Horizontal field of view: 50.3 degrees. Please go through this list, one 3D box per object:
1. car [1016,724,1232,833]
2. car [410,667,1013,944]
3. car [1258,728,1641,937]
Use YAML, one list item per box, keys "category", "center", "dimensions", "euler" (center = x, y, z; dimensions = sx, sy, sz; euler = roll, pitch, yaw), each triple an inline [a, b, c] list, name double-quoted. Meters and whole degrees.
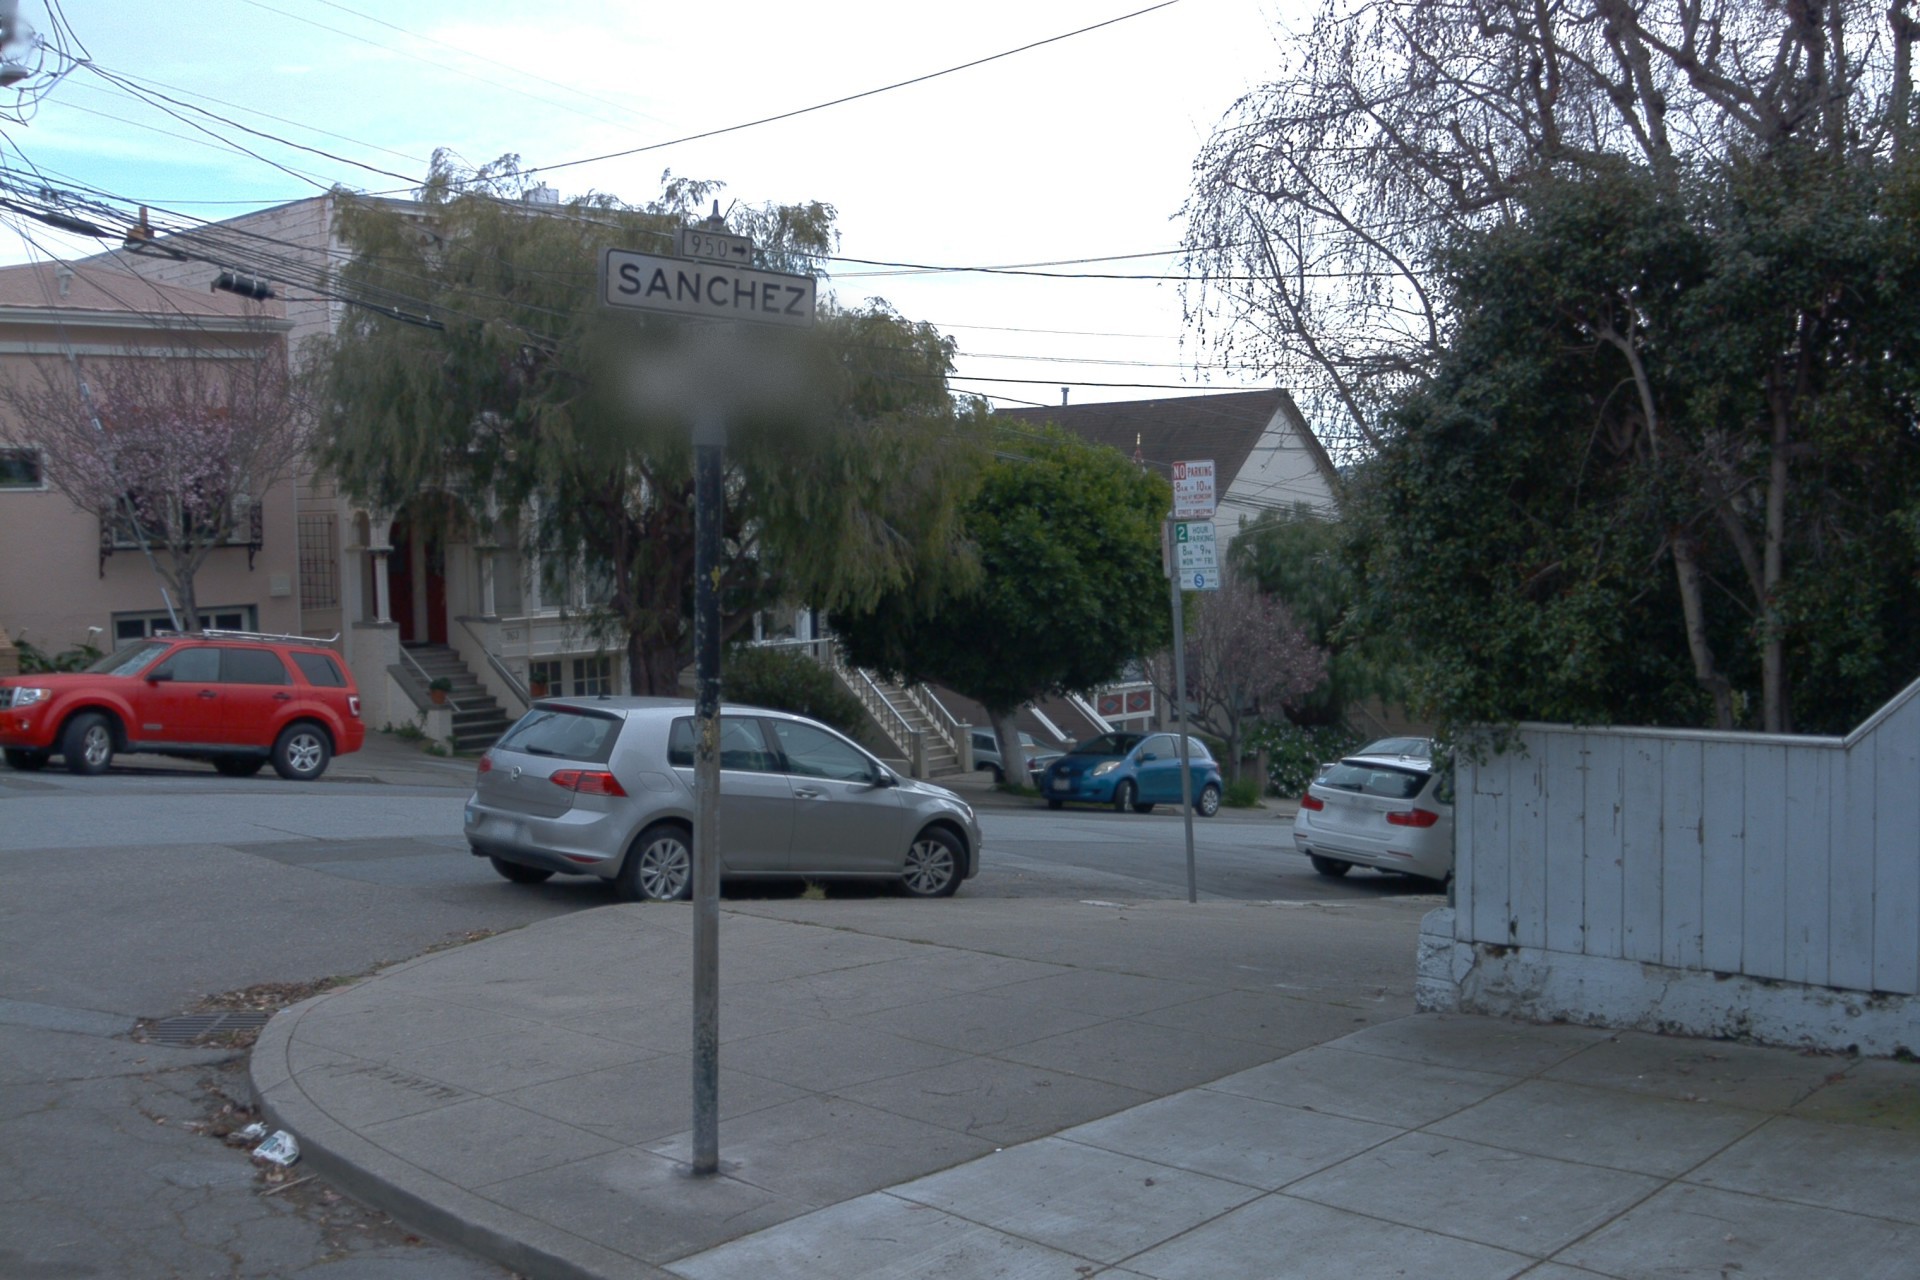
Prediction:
- category: "car"
  center: [2.994, 2.443, 36.822]
  dimensions: [1.954, 1.685, 3.776]
  euler: [2, 1, 42]
- category: "car"
  center: [-1.759, 1.100, 15.414]
  dimensions: [2.126, 1.720, 4.090]
  euler: [2, 1, 42]
- category: "car"
  center: [5.577, 2.036, 22.923]
  dimensions: [1.975, 1.910, 4.684]
  euler: [2, 1, 45]
